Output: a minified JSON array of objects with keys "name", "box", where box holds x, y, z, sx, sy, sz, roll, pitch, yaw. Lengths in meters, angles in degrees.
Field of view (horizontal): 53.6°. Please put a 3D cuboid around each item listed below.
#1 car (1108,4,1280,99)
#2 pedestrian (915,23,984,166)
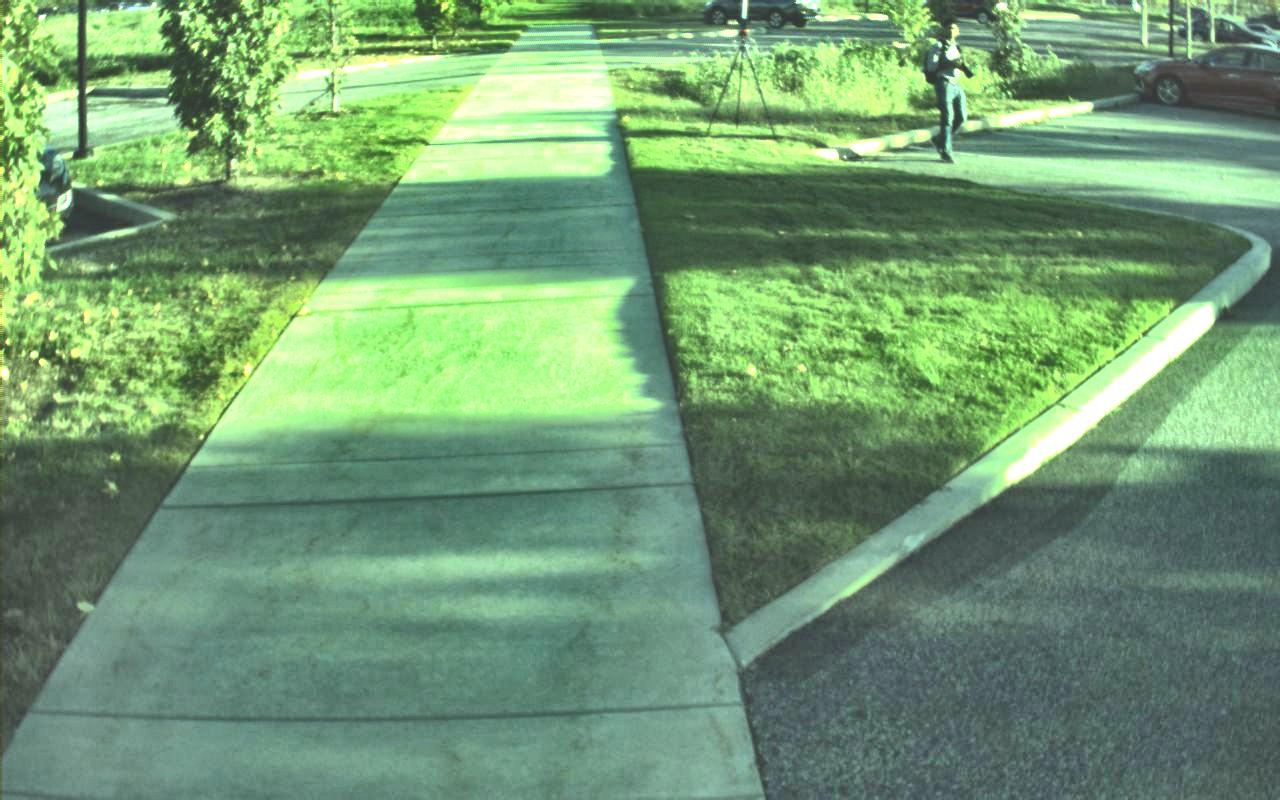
[{"name":"car","box":[11.929,-7.133,23.000,4.454,1.622,1.954,12,20,40]},{"name":"pedestrian","box":[3.737,-3.679,14.558,0.793,1.678,0.830,4,15,17]}]
